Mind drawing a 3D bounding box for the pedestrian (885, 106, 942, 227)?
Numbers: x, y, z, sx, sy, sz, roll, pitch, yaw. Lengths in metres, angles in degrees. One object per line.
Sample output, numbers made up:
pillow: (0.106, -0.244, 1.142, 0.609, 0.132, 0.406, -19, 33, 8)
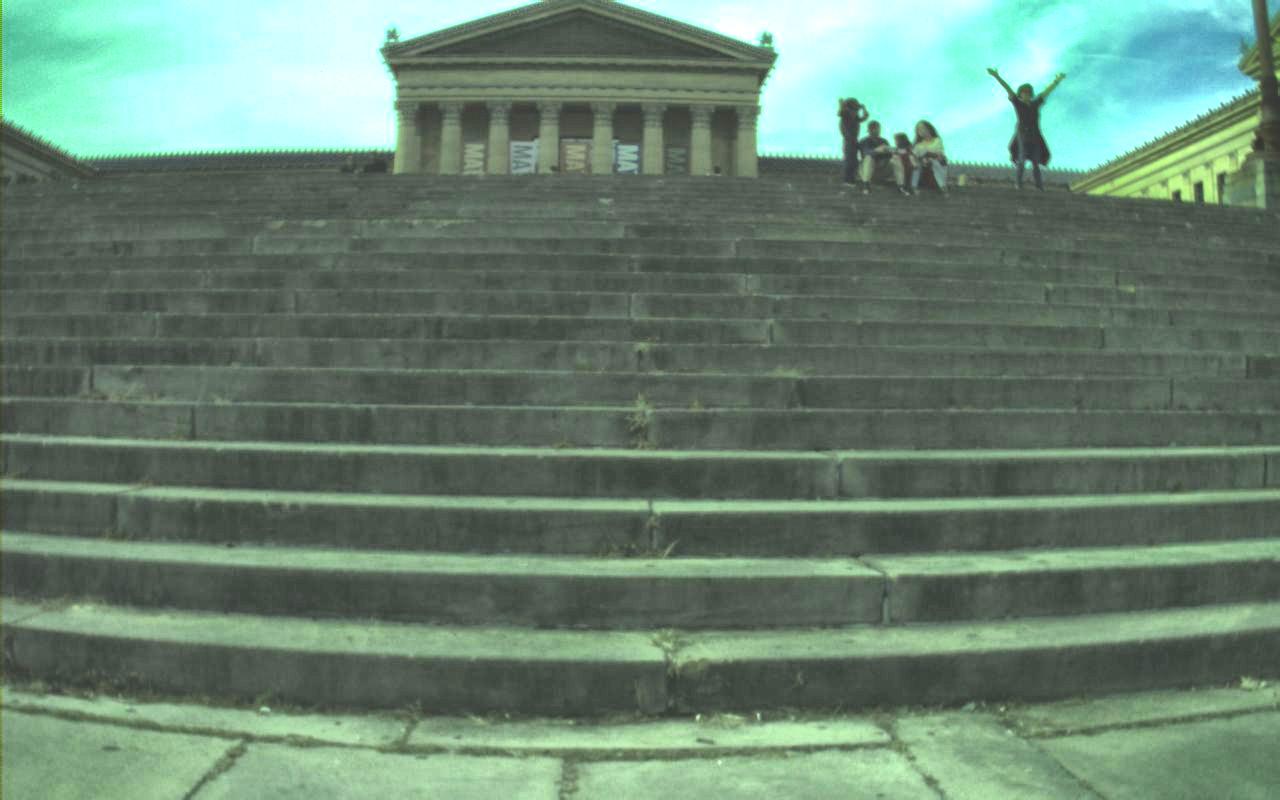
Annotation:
pedestrian: (3.592, -3.058, 16.188, 0.673, 1.506, 0.687, 0, 0, 8)

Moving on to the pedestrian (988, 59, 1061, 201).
pedestrian: (5.422, -3.772, 16.907, 0.718, 1.866, 0.697, 0, 0, -31)

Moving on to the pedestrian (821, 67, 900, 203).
pedestrian: (2.838, -3.387, 15.894, 0.730, 1.620, 0.698, 1, 0, 45)
